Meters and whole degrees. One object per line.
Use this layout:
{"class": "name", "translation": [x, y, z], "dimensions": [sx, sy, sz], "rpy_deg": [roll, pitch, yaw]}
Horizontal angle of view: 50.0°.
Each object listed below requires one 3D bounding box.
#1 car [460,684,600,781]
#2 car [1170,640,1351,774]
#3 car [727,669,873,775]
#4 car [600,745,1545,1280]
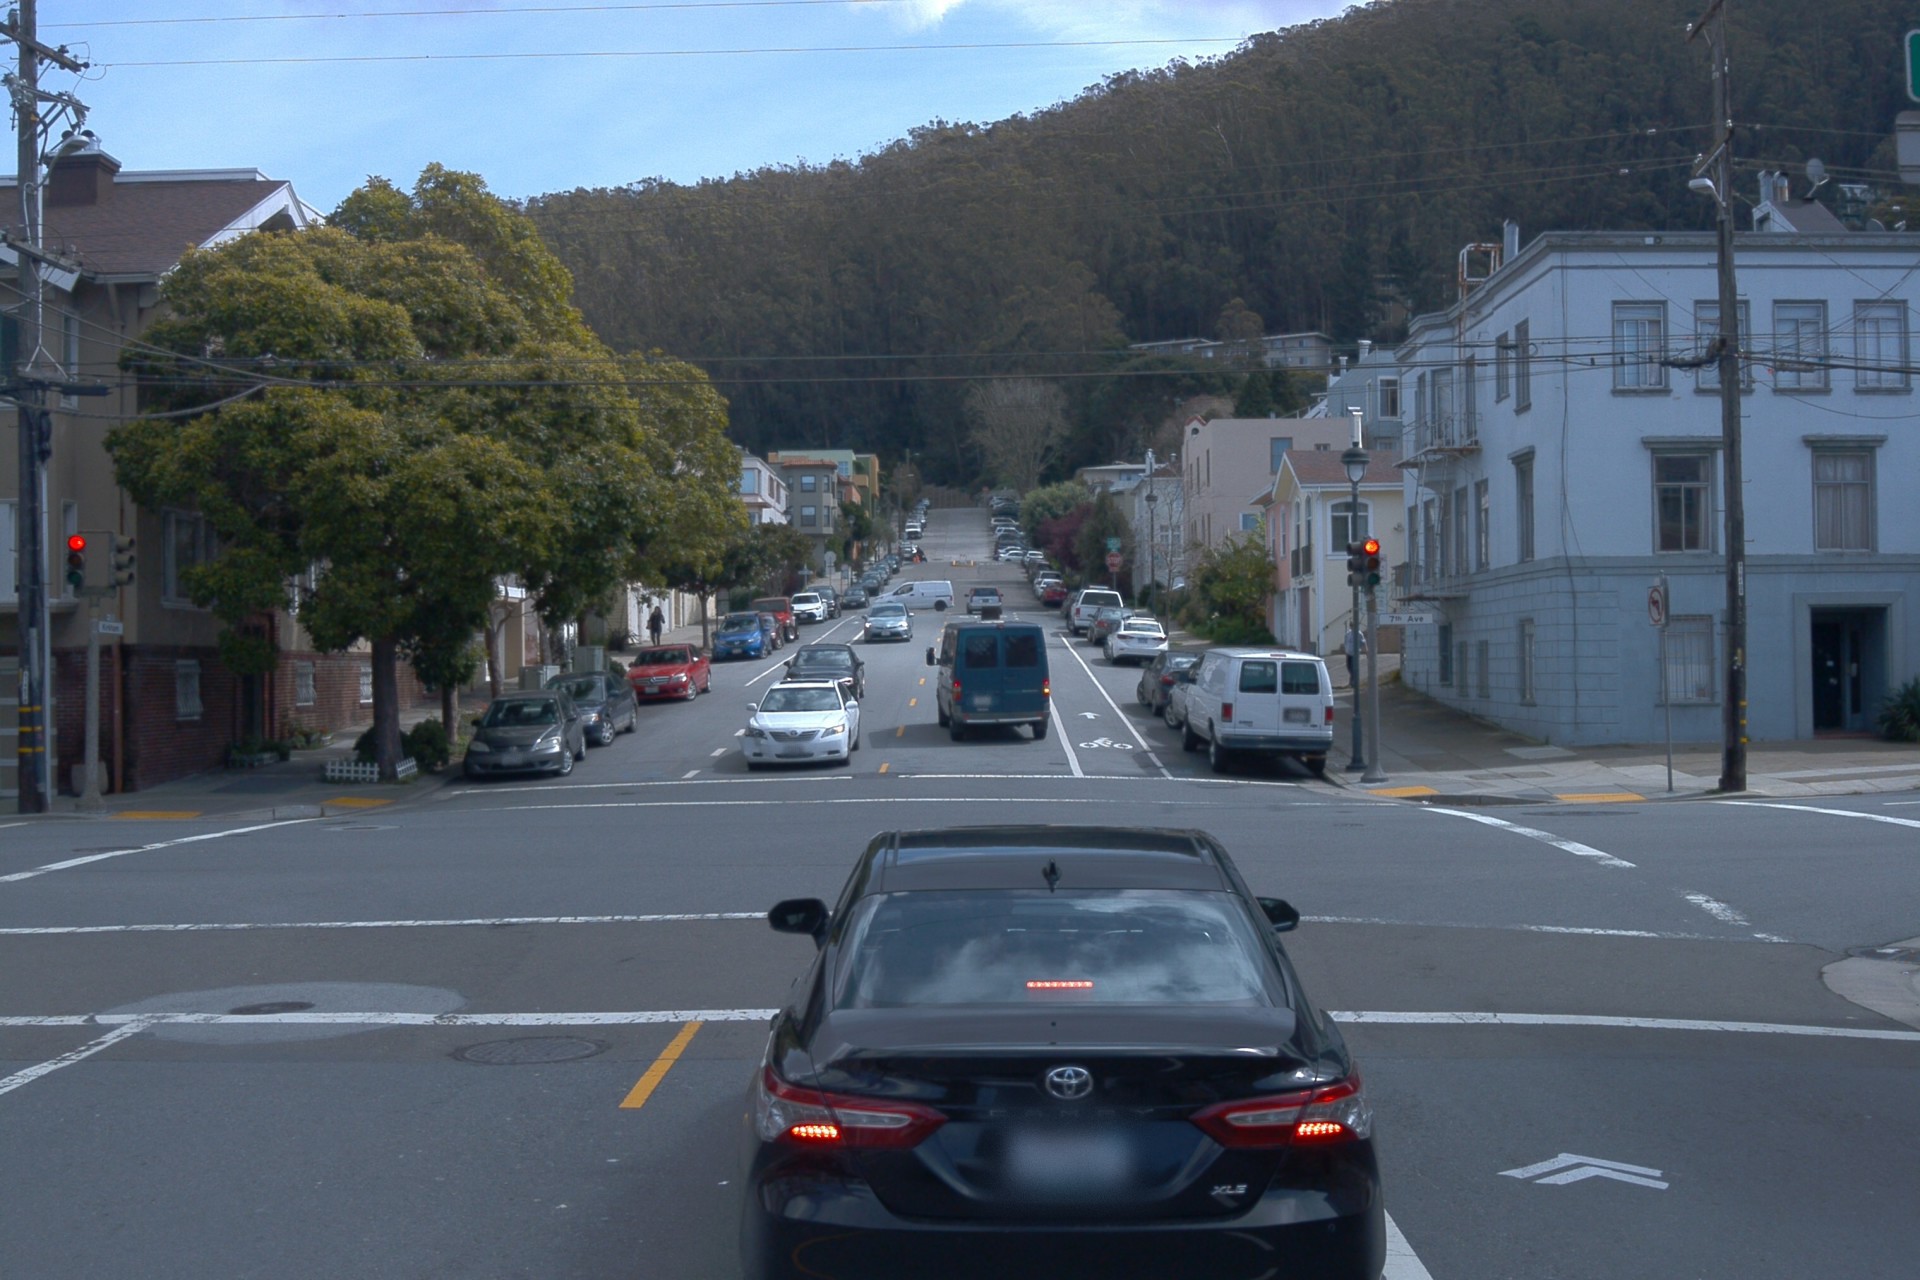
{"class": "car", "translation": [-7.707, 1.623, 37.253], "dimensions": [1.836, 1.560, 4.133], "rpy_deg": [0, 0, -3]}
{"class": "car", "translation": [5.316, 1.120, 37.217], "dimensions": [2.299, 2.250, 5.313], "rpy_deg": [0, 0, -2]}
{"class": "car", "translation": [-2.840, 1.441, 37.653], "dimensions": [2.209, 1.750, 4.541], "rpy_deg": [0, 0, 1]}
{"class": "car", "translation": [0.282, 1.306, 7.305], "dimensions": [2.249, 1.620, 4.798], "rpy_deg": [0, 0, 0]}
